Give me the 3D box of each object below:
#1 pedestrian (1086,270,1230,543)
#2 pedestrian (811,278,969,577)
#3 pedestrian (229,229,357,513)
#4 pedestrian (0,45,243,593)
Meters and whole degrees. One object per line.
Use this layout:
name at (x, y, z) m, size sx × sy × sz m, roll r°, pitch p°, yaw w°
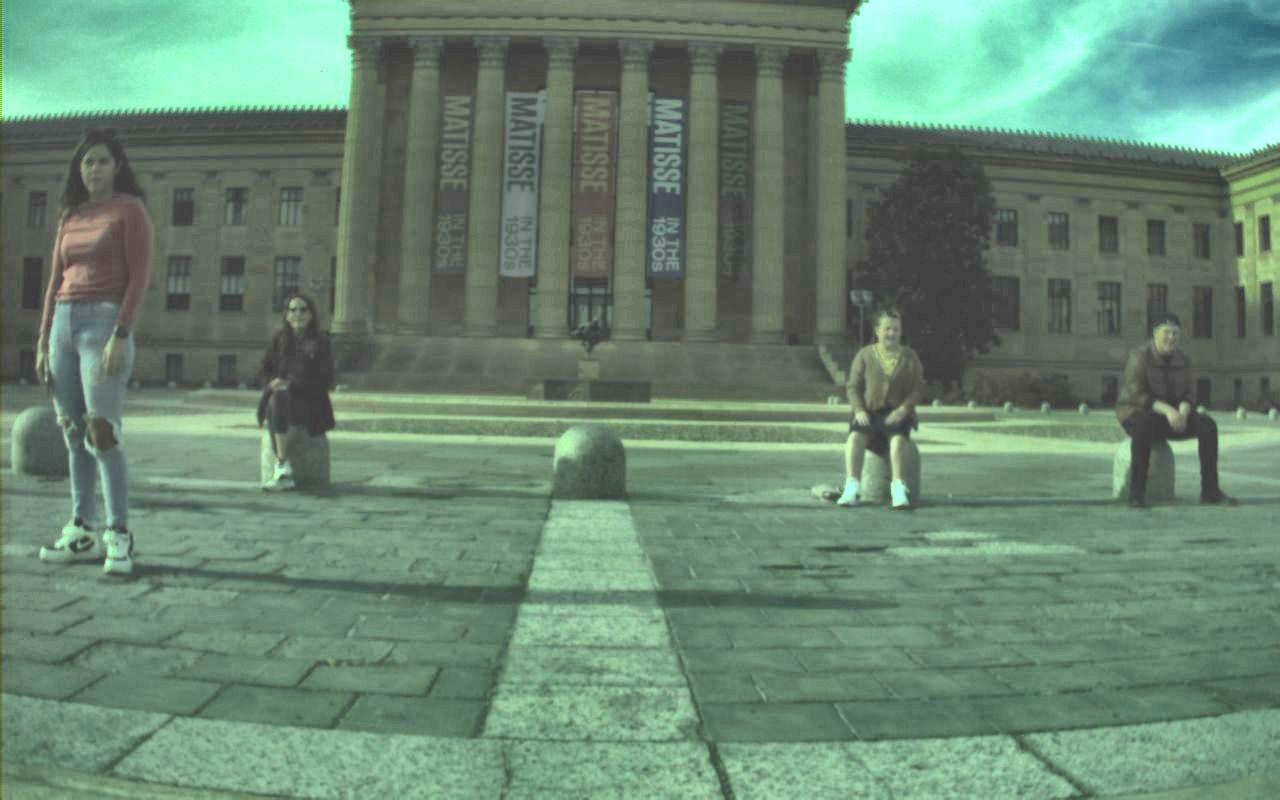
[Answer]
pedestrian at (3.468, 0.048, 7.878) m, size 0.798 × 1.734 × 0.822 m, roll 0°, pitch 0°, yaw 6°
pedestrian at (1.572, 0.166, 7.906) m, size 0.850 × 1.799 × 0.855 m, roll 0°, pitch 0°, yaw 0°
pedestrian at (-2.189, -0.181, 7.714) m, size 0.754 × 1.715 × 0.756 m, roll 0°, pitch 0°, yaw -10°
pedestrian at (-1.971, -0.274, 4.175) m, size 0.774 × 1.789 × 0.787 m, roll 0°, pitch 0°, yaw 9°
